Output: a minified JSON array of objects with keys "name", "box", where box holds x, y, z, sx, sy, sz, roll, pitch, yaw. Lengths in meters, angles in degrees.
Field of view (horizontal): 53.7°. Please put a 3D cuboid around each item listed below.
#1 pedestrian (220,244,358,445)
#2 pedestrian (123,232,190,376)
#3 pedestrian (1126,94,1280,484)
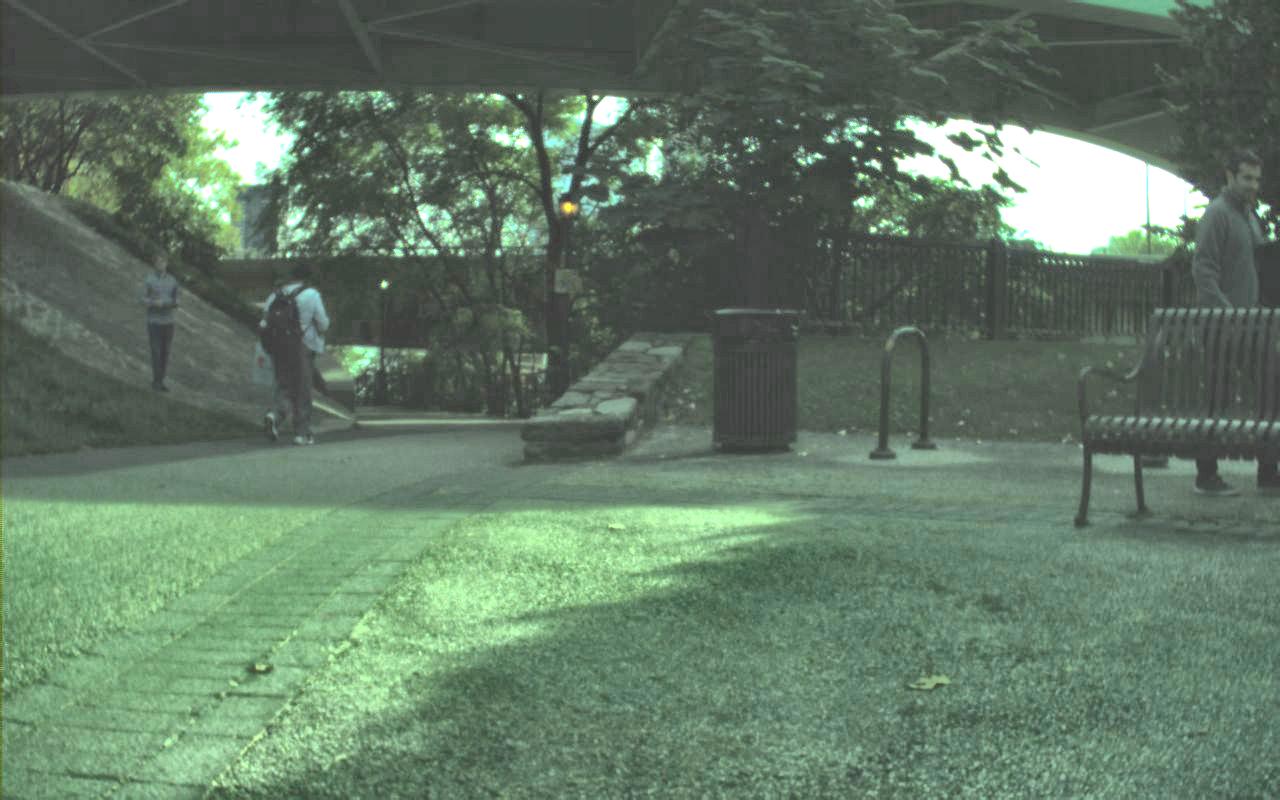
[{"name":"pedestrian","box":[-3.175,-0.474,10.942,0.949,1.712,0.896,0,0,-45]},{"name":"pedestrian","box":[-6.477,-1.237,15.741,0.797,1.882,0.752,0,0,-13]},{"name":"pedestrian","box":[2.882,-0.506,5.561,0.824,1.772,0.775,1,0,44]}]
